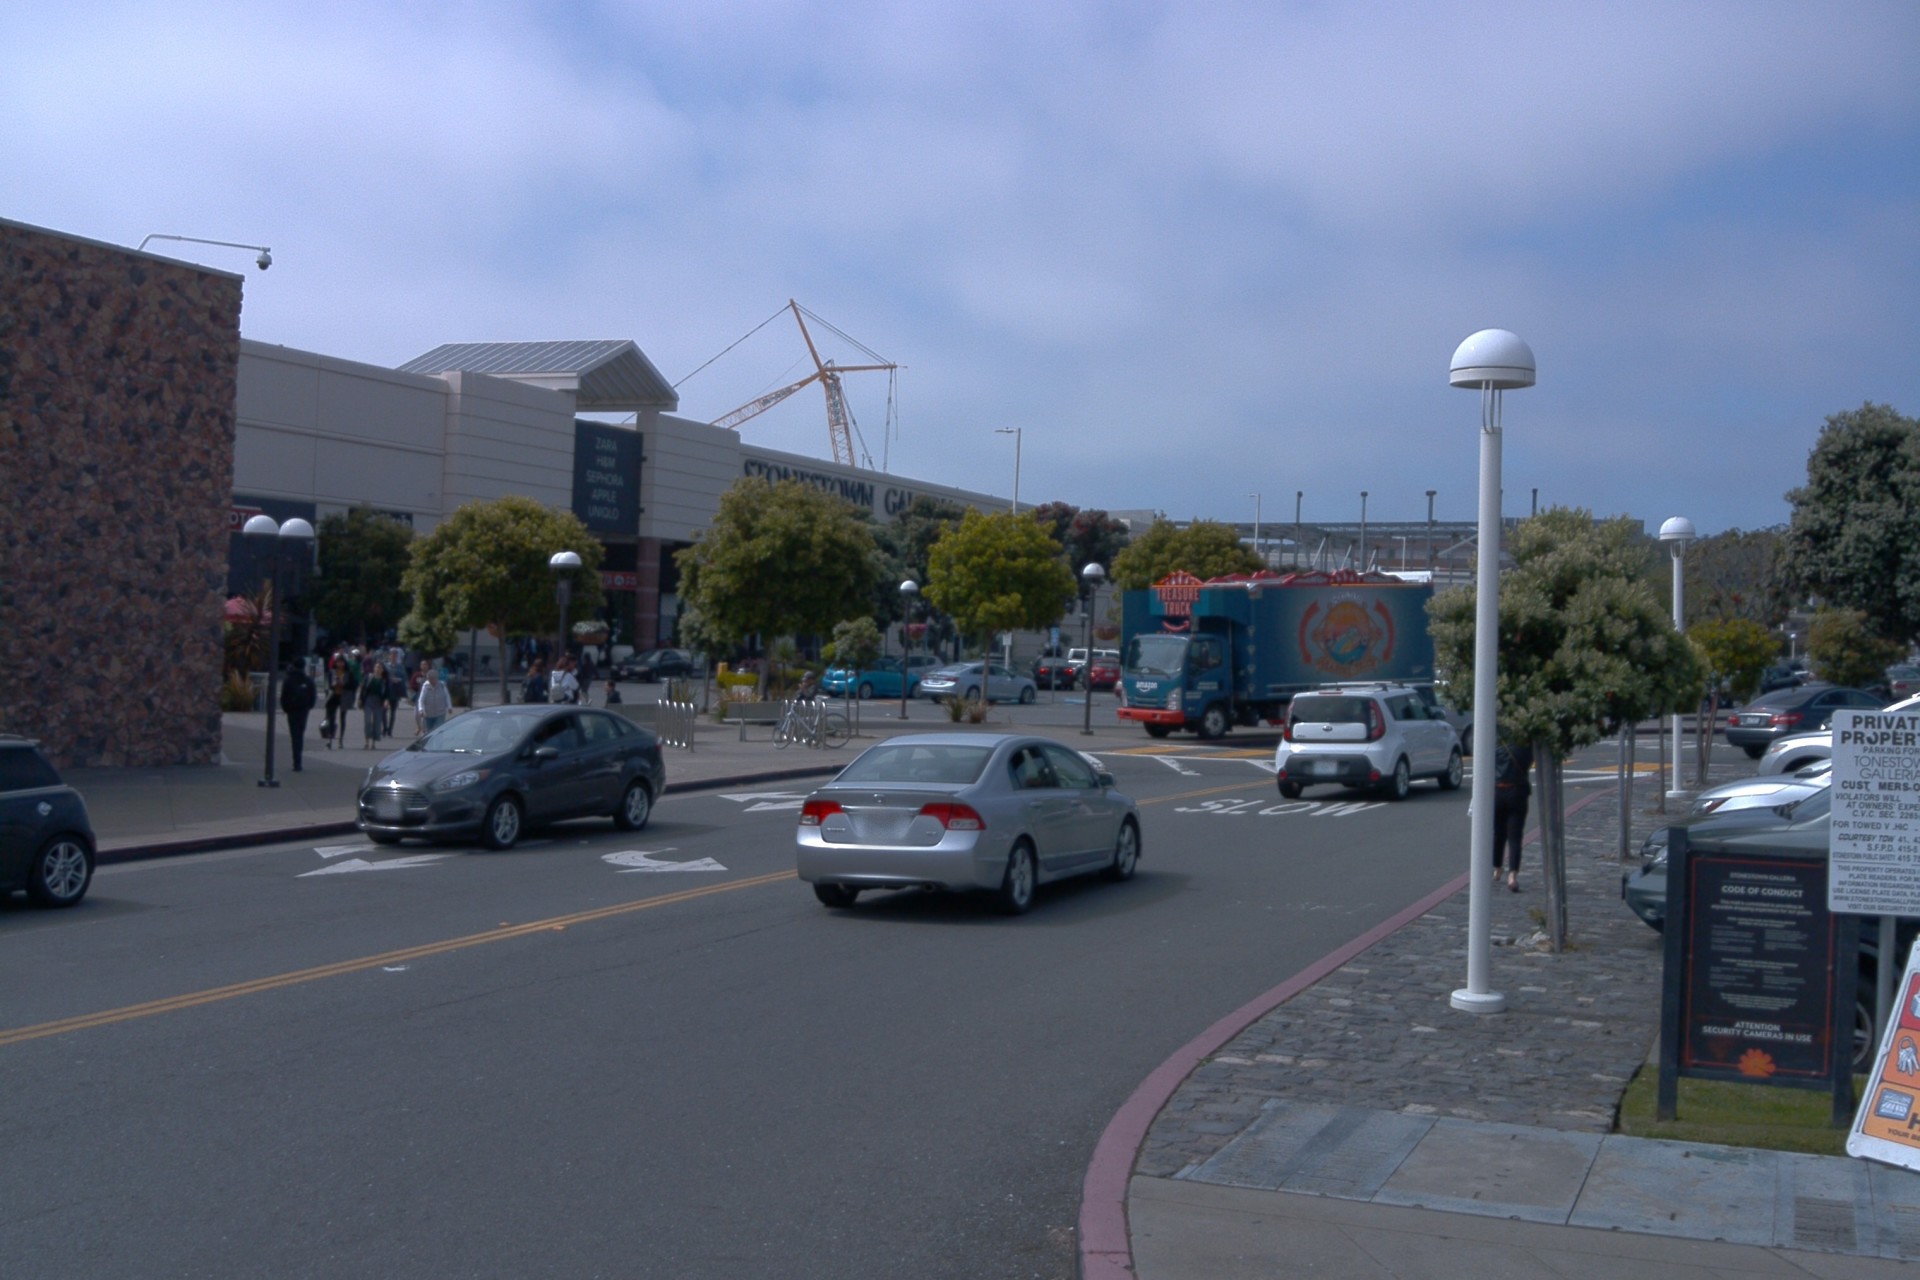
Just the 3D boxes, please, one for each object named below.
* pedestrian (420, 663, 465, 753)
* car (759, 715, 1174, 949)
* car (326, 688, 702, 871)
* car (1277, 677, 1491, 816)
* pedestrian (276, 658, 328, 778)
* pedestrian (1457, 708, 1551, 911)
[{"bbox_3d":[-9.206,1.198,36.564,0.769,1.550,0.899,0,0,-14],"label":"pedestrian"},{"bbox_3d":[0.215,1.511,17.681,2.056,1.520,4.322,0,1,23],"label":"car"},{"bbox_3d":[-4.765,1.435,22.694,1.935,1.640,4.415,0,1,22],"label":"car"},{"bbox_3d":[6.310,1.494,30.290,1.881,1.780,4.024,0,1,31],"label":"car"},{"bbox_3d":[-10.010,1.168,31.280,0.623,1.780,0.900,0,0,-26],"label":"pedestrian"},{"bbox_3d":[4.442,1.360,16.769,0.632,1.570,0.735,0,0,23],"label":"pedestrian"}]
